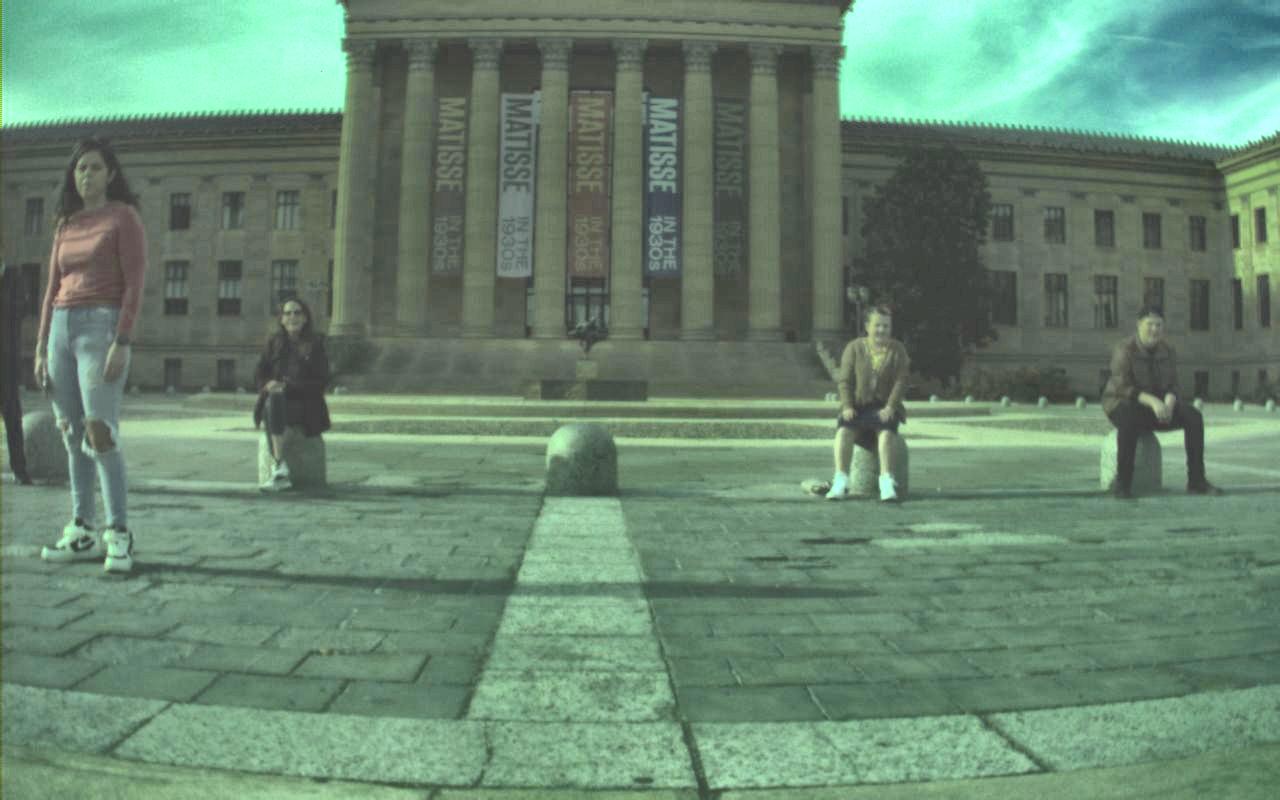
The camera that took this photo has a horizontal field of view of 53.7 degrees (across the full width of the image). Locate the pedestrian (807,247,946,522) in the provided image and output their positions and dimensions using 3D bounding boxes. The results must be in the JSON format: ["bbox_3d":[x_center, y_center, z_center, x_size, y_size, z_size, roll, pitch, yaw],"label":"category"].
[{"bbox_3d":[1.498,-0.096,7.984,0.819,1.670,0.844,0,0,6],"label":"pedestrian"}]

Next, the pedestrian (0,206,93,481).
[{"bbox_3d":[-4.098,-0.341,7.329,0.790,1.694,0.812,0,0,0],"label":"pedestrian"}]

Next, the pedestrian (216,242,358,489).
[{"bbox_3d":[-2.257,-0.216,7.819,0.788,1.497,0.823,0,0,-6],"label":"pedestrian"}]

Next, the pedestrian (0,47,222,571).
[{"bbox_3d":[-2.068,-0.314,4.239,0.752,1.754,0.763,0,0,10],"label":"pedestrian"}]

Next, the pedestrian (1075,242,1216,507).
[{"bbox_3d":[3.399,-0.156,7.946,0.764,1.692,0.813,0,0,2],"label":"pedestrian"}]
